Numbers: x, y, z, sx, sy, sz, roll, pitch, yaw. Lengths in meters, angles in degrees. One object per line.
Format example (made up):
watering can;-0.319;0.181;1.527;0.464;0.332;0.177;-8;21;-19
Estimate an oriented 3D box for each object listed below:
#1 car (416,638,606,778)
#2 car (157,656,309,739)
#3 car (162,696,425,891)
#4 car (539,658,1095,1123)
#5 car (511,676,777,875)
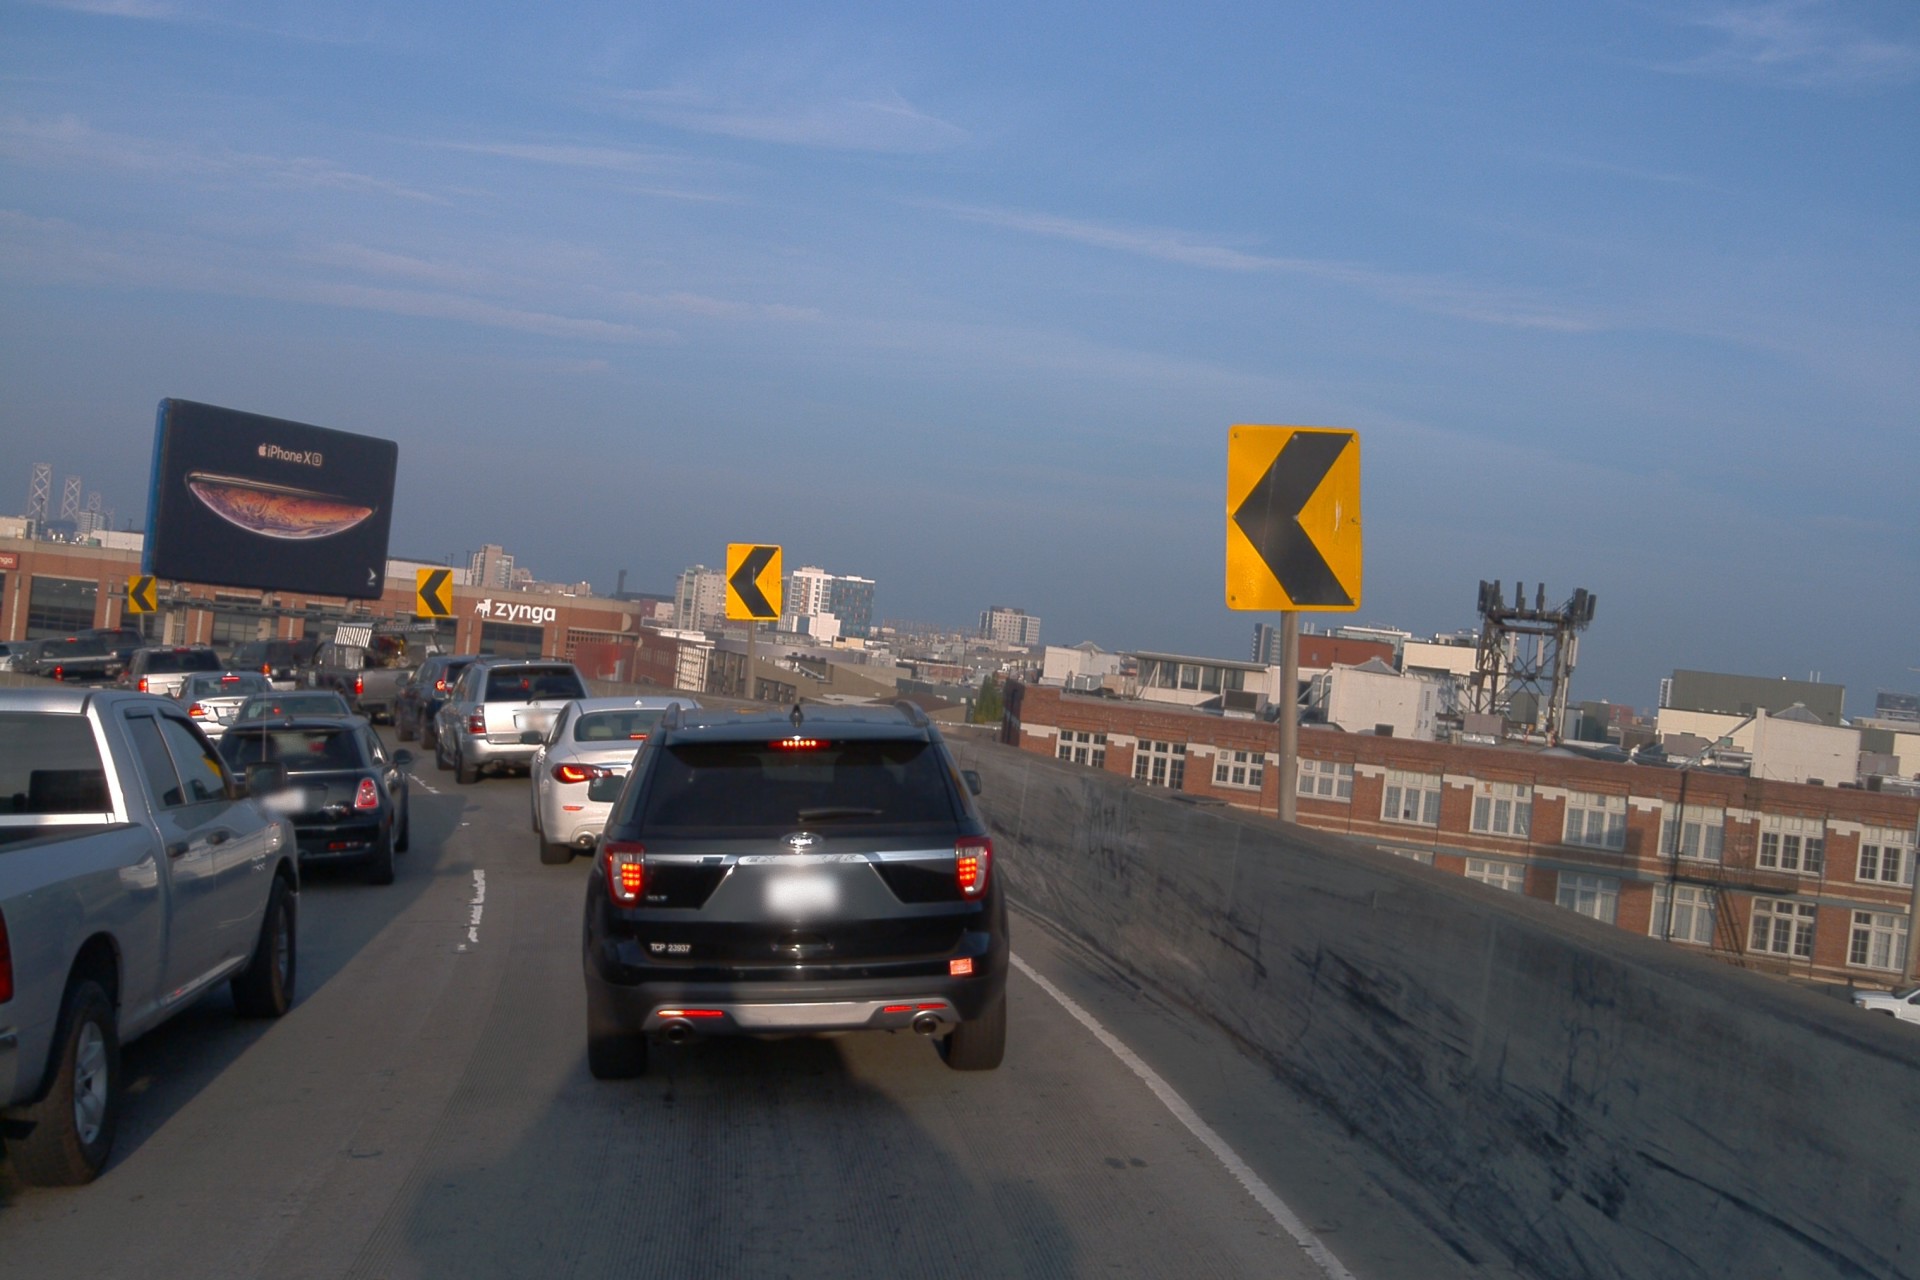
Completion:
car;-6.521;0.894;29.431;1.992;1.820;4.394;0;0;-21
car;-12.852;0.957;36.093;2.005;1.310;4.887;0;0;-26
car;-5.873;1.283;18.528;1.934;1.411;4.084;0;0;-14
car;-0.902;1.055;11.043;2.327;1.850;4.877;0;0;-8
car;-3.195;1.193;19.938;2.143;1.590;4.510;0;0;-14
